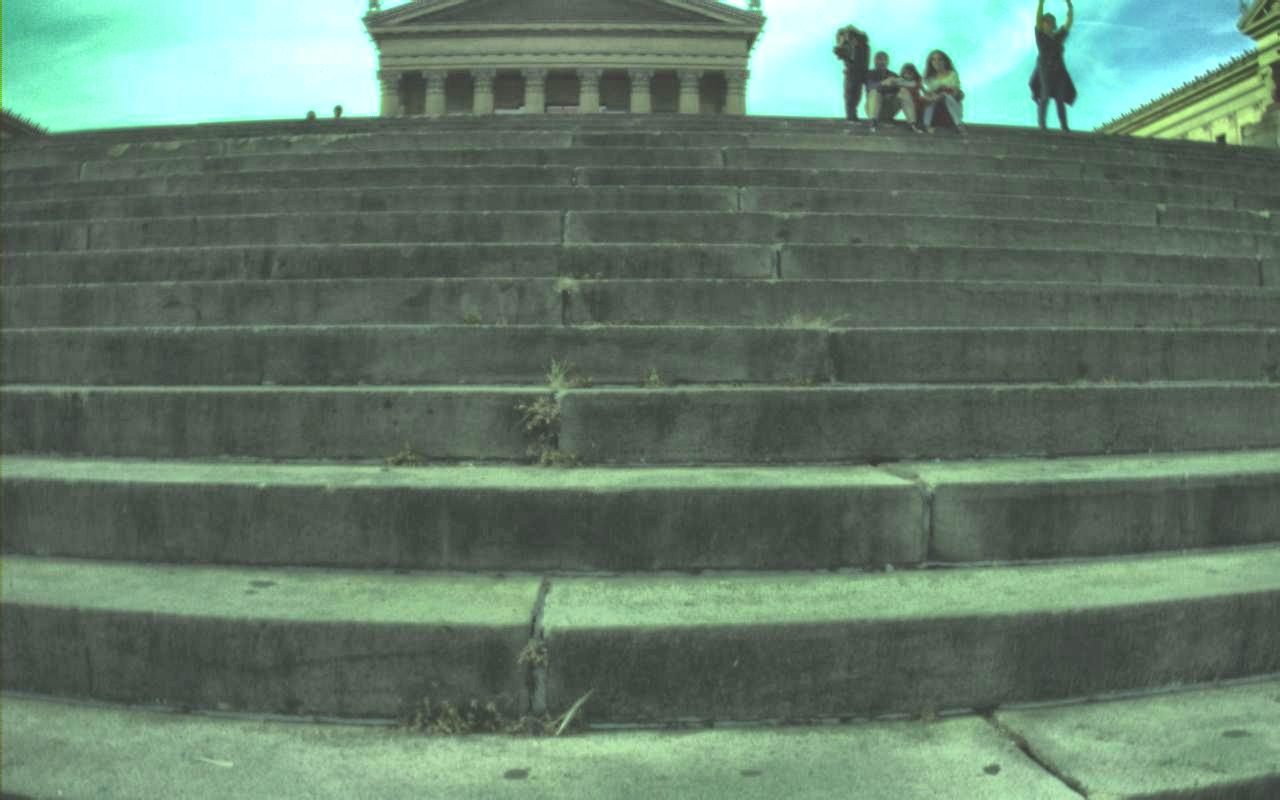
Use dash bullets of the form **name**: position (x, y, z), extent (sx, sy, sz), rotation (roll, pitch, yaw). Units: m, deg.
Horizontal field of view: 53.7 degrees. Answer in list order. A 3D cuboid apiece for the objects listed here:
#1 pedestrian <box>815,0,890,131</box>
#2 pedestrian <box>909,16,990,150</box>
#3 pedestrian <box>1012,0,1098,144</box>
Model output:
- **pedestrian**: position (2.436, -3.958, 13.957), extent (0.702, 1.698, 0.677), rotation (1, 0, 21)
- **pedestrian**: position (3.537, -3.613, 13.868), extent (0.738, 1.390, 0.803), rotation (0, 0, 0)
- **pedestrian**: position (5.210, -4.203, 14.814), extent (0.777, 1.886, 0.781), rotation (0, 0, -4)
